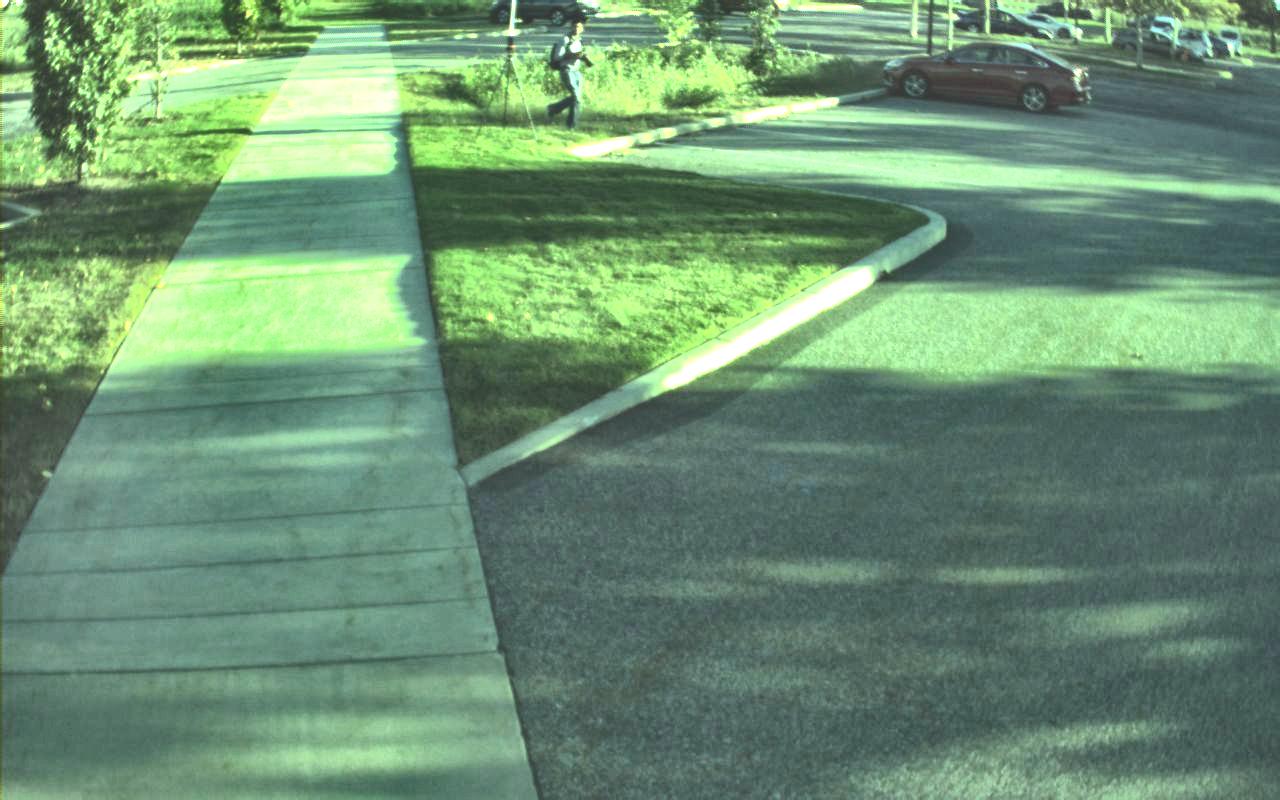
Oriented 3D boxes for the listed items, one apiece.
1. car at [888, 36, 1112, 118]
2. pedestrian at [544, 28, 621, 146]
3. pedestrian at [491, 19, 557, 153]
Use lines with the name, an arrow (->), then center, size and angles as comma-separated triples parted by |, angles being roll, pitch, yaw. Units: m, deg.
car -> 8.130, -7.266, 26.798 | 4.814, 1.602, 2.022 | 8, 18, 30
pedestrian -> -0.846, -4.639, 18.374 | 0.859, 1.721, 0.795 | 5, 16, 21
pedestrian -> -1.639, -4.391, 17.233 | 0.811, 1.818, 0.789 | -4, 15, -10
